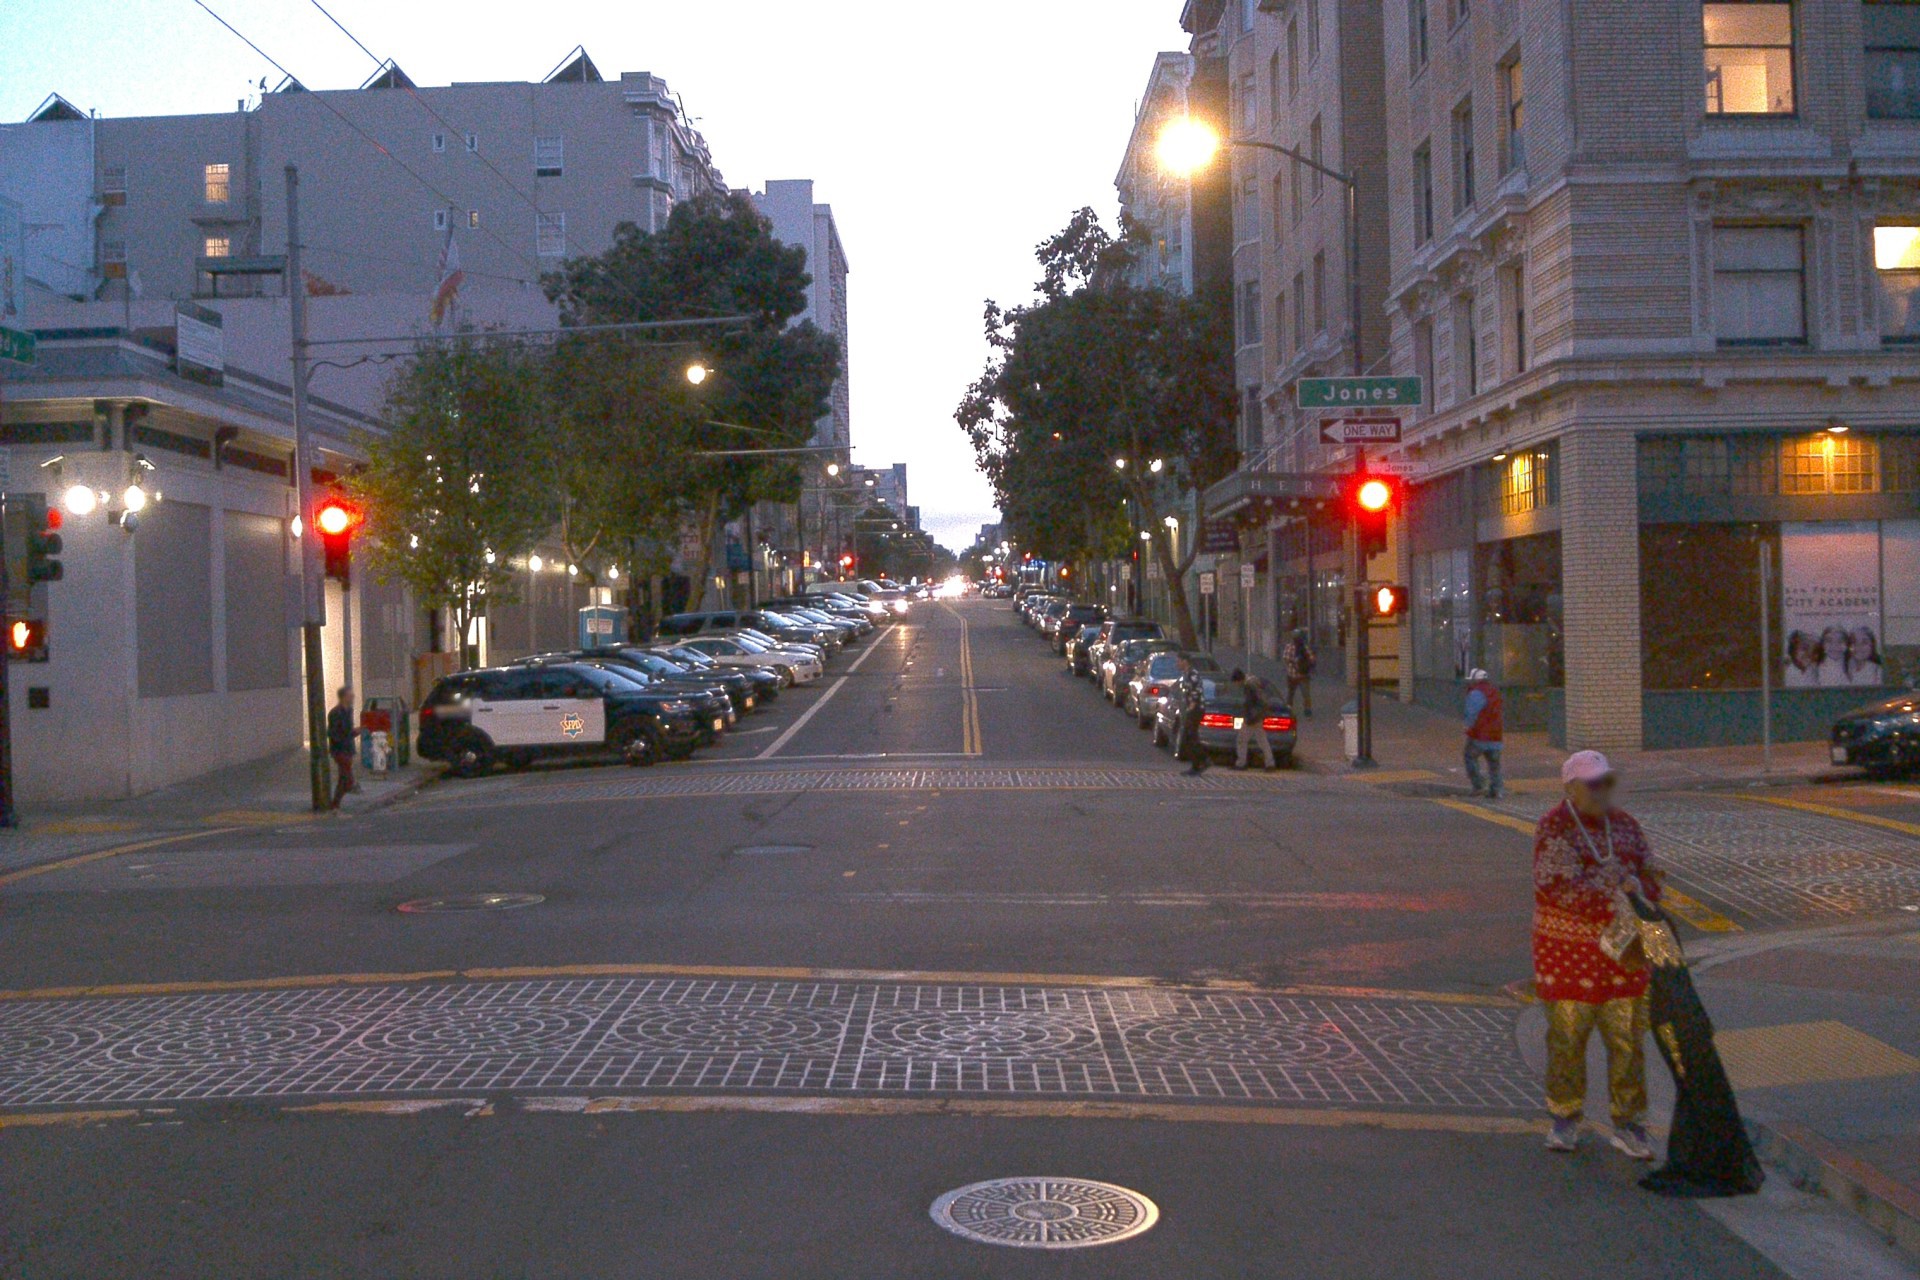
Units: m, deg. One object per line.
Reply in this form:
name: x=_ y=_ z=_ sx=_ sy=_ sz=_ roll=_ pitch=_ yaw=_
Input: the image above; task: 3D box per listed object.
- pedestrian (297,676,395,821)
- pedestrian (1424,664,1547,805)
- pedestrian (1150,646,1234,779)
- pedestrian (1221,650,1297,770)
pedestrian: x=-8.325 y=1.462 z=27.909 sx=1.099 sy=1.930 sz=0.689 roll=0 pitch=1 yaw=3
pedestrian: x=6.216 y=1.095 z=24.337 sx=0.996 sy=1.590 sz=1.004 roll=-1 pitch=1 yaw=-31
pedestrian: x=3.219 y=0.999 z=28.630 sx=1.076 sy=1.820 sz=0.594 roll=0 pitch=1 yaw=-2
pedestrian: x=4.378 y=1.011 z=30.166 sx=1.001 sy=1.700 sz=0.999 roll=0 pitch=1 yaw=3
